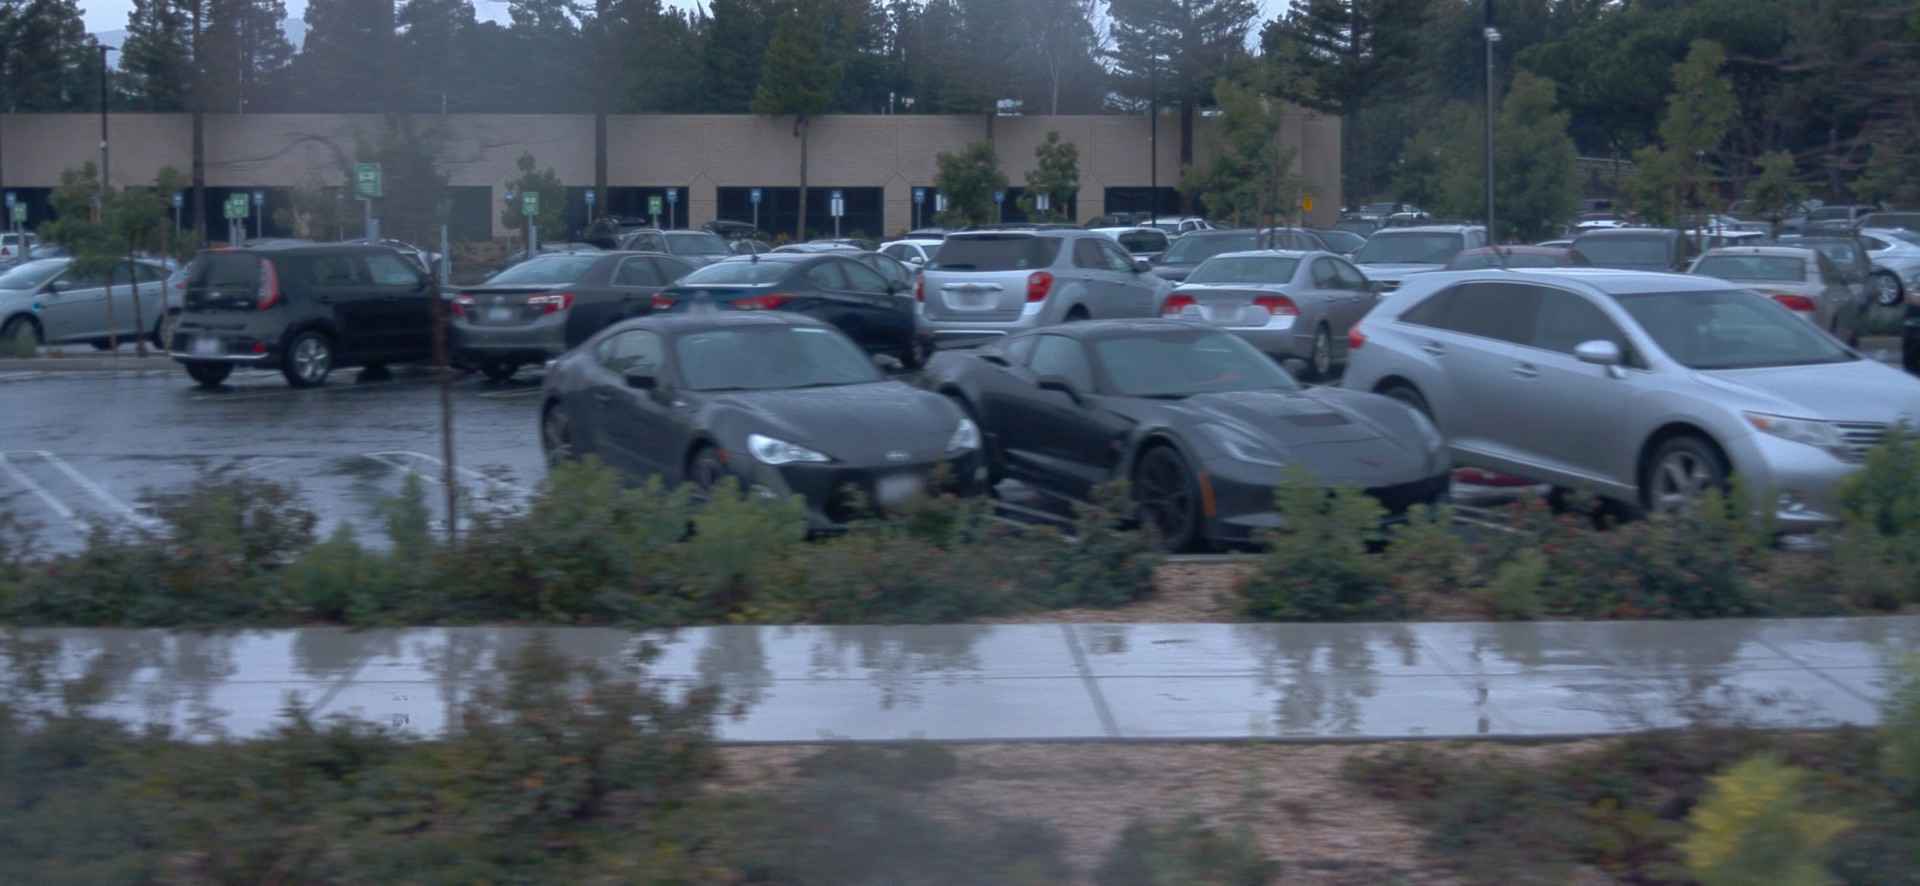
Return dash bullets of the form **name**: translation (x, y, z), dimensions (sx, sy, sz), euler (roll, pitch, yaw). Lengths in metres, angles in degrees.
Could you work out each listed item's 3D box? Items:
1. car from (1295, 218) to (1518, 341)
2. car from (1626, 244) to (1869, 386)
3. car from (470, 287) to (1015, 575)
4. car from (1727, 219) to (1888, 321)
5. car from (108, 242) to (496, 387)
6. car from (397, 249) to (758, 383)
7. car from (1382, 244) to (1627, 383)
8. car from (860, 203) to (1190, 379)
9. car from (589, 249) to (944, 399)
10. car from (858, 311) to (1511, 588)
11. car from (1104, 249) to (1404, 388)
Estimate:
- **car**: translation (6.576, -2.429, 30.258), dimensions (2.189, 1.614, 4.565), euler (2, 6, 25)
- **car**: translation (9.522, -1.622, 24.928), dimensions (2.156, 1.494, 4.635), euler (3, 6, 28)
- **car**: translation (-1.596, -0.241, 13.589), dimensions (2.011, 1.424, 4.246), euler (-2, 6, -29)
- **car**: translation (12.570, -2.587, 30.726), dimensions (1.932, 1.374, 4.194), euler (2, 6, 26)
- **car**: translation (-7.564, -1.578, 24.297), dimensions (1.921, 1.514, 4.073), euler (3, 6, 31)
- **car**: translation (-4.392, -1.581, 24.641), dimensions (1.884, 1.374, 4.475), euler (2, 6, 26)
- **car**: translation (6.515, -1.614, 24.544), dimensions (2.105, 1.434, 4.558), euler (2, 6, 23)
- **car**: translation (0.879, -1.864, 24.558), dimensions (2.009, 1.863, 4.524), euler (2, 5, 29)
- **car**: translation (-2.085, -1.451, 23.887), dimensions (1.966, 1.494, 4.522), euler (2, 6, 26)
- **car**: translation (1.242, -0.124, 13.726), dimensions (2.185, 1.294, 4.520), euler (-2, 6, -27)
- **car**: translation (3.511, -1.529, 24.176), dimensions (2.075, 1.414, 4.218), euler (3, 6, 29)
